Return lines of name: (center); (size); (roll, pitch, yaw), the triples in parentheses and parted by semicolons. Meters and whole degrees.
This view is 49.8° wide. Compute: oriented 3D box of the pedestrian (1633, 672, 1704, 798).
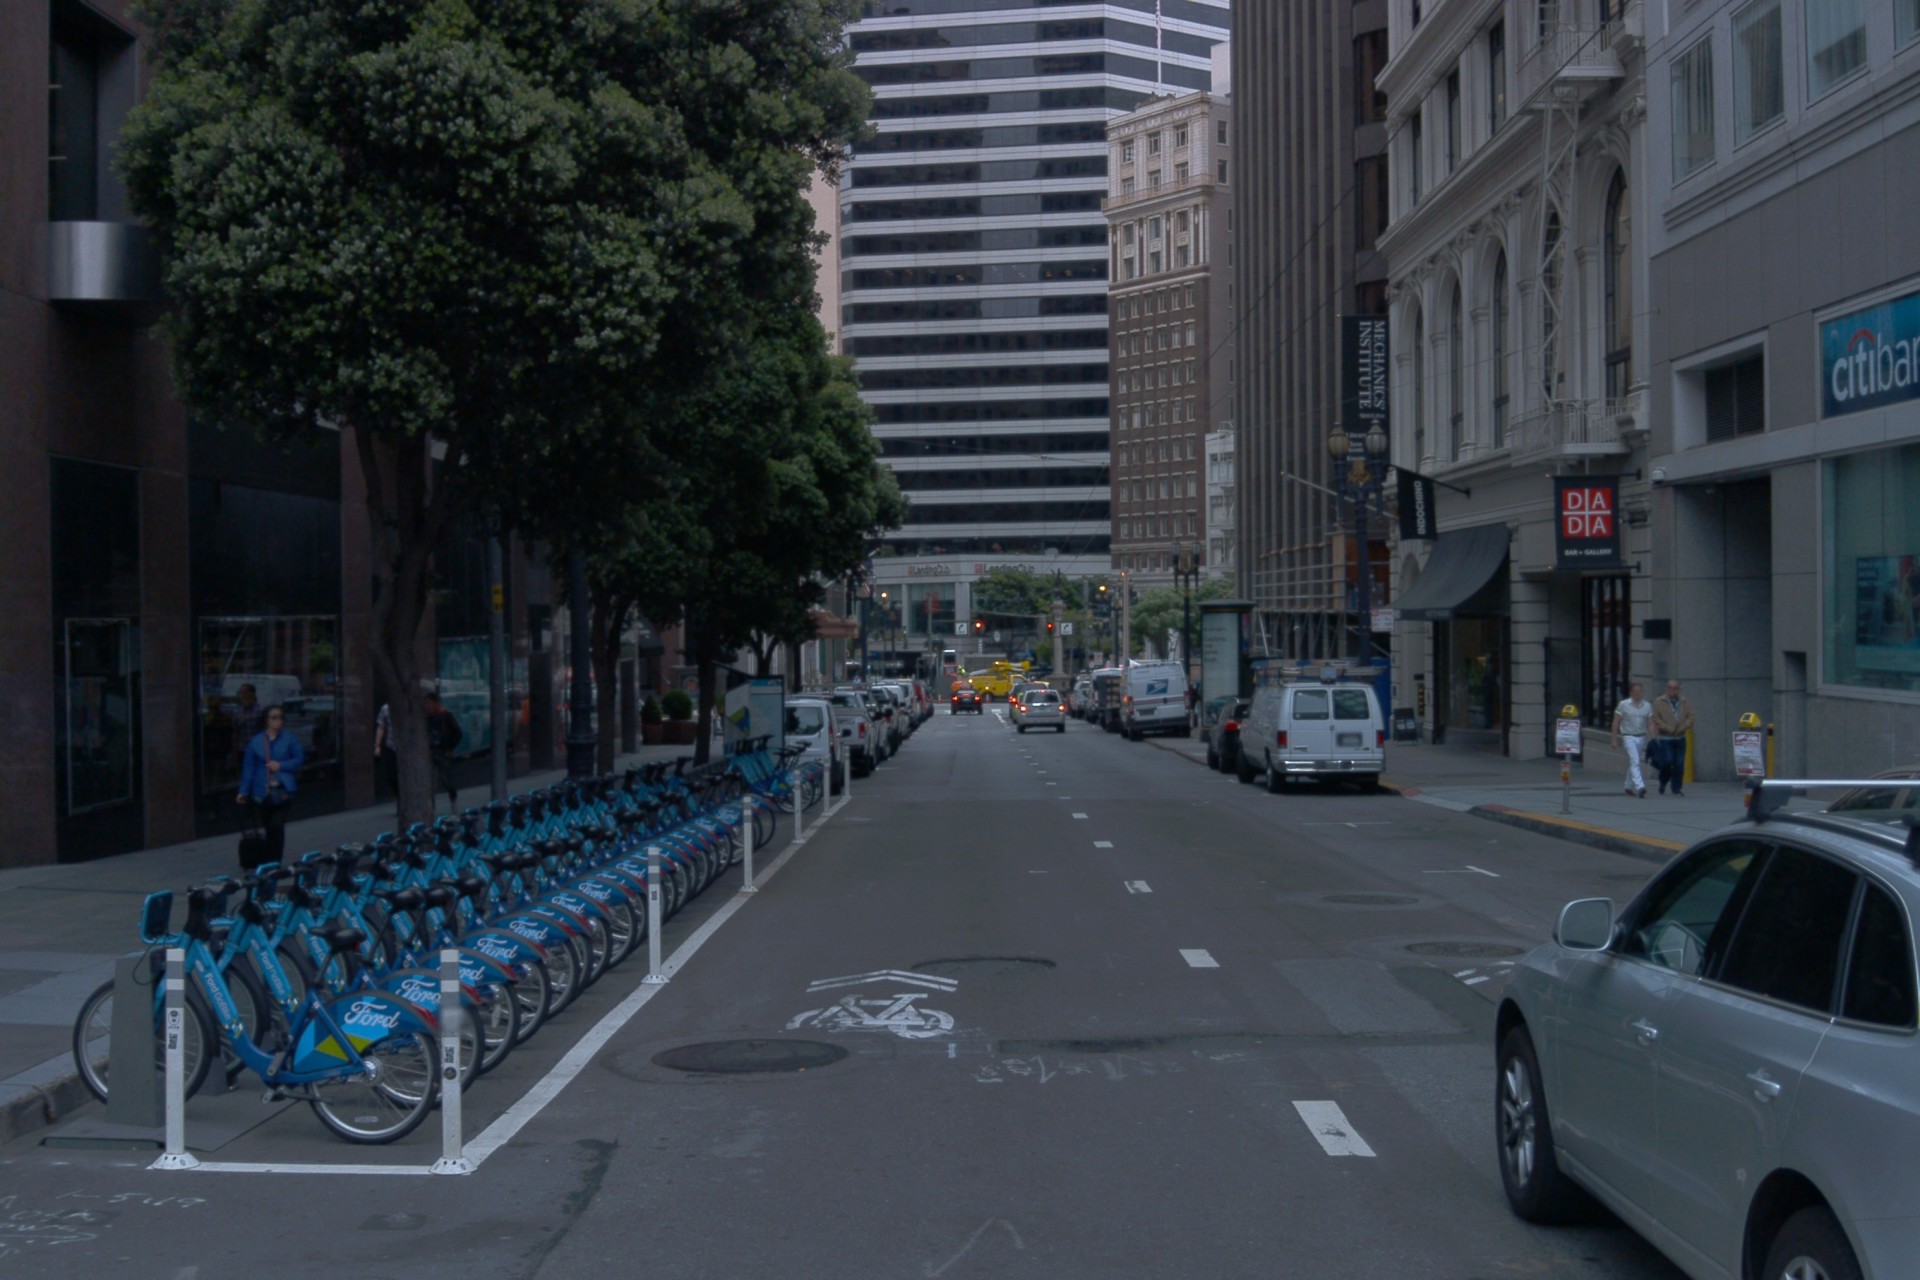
pedestrian: (10.827, 1.437, 31.597); (0.761, 1.860, 0.972); (0, 1, 2)

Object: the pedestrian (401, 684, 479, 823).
pedestrian: (-7.174, 1.557, 28.555); (0.786, 1.850, 1.036); (0, 1, 1)

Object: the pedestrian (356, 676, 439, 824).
pedestrian: (-7.774, 1.505, 28.583); (0.793, 1.970, 1.111); (0, 1, 2)

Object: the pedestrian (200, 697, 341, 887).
pedestrian: (-6.395, 1.387, 19.217); (0.942, 1.660, 1.157); (0, 1, -2)

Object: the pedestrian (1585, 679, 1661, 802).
pedestrian: (10.124, 1.523, 31.557); (0.866, 1.830, 0.964); (0, 1, 2)
